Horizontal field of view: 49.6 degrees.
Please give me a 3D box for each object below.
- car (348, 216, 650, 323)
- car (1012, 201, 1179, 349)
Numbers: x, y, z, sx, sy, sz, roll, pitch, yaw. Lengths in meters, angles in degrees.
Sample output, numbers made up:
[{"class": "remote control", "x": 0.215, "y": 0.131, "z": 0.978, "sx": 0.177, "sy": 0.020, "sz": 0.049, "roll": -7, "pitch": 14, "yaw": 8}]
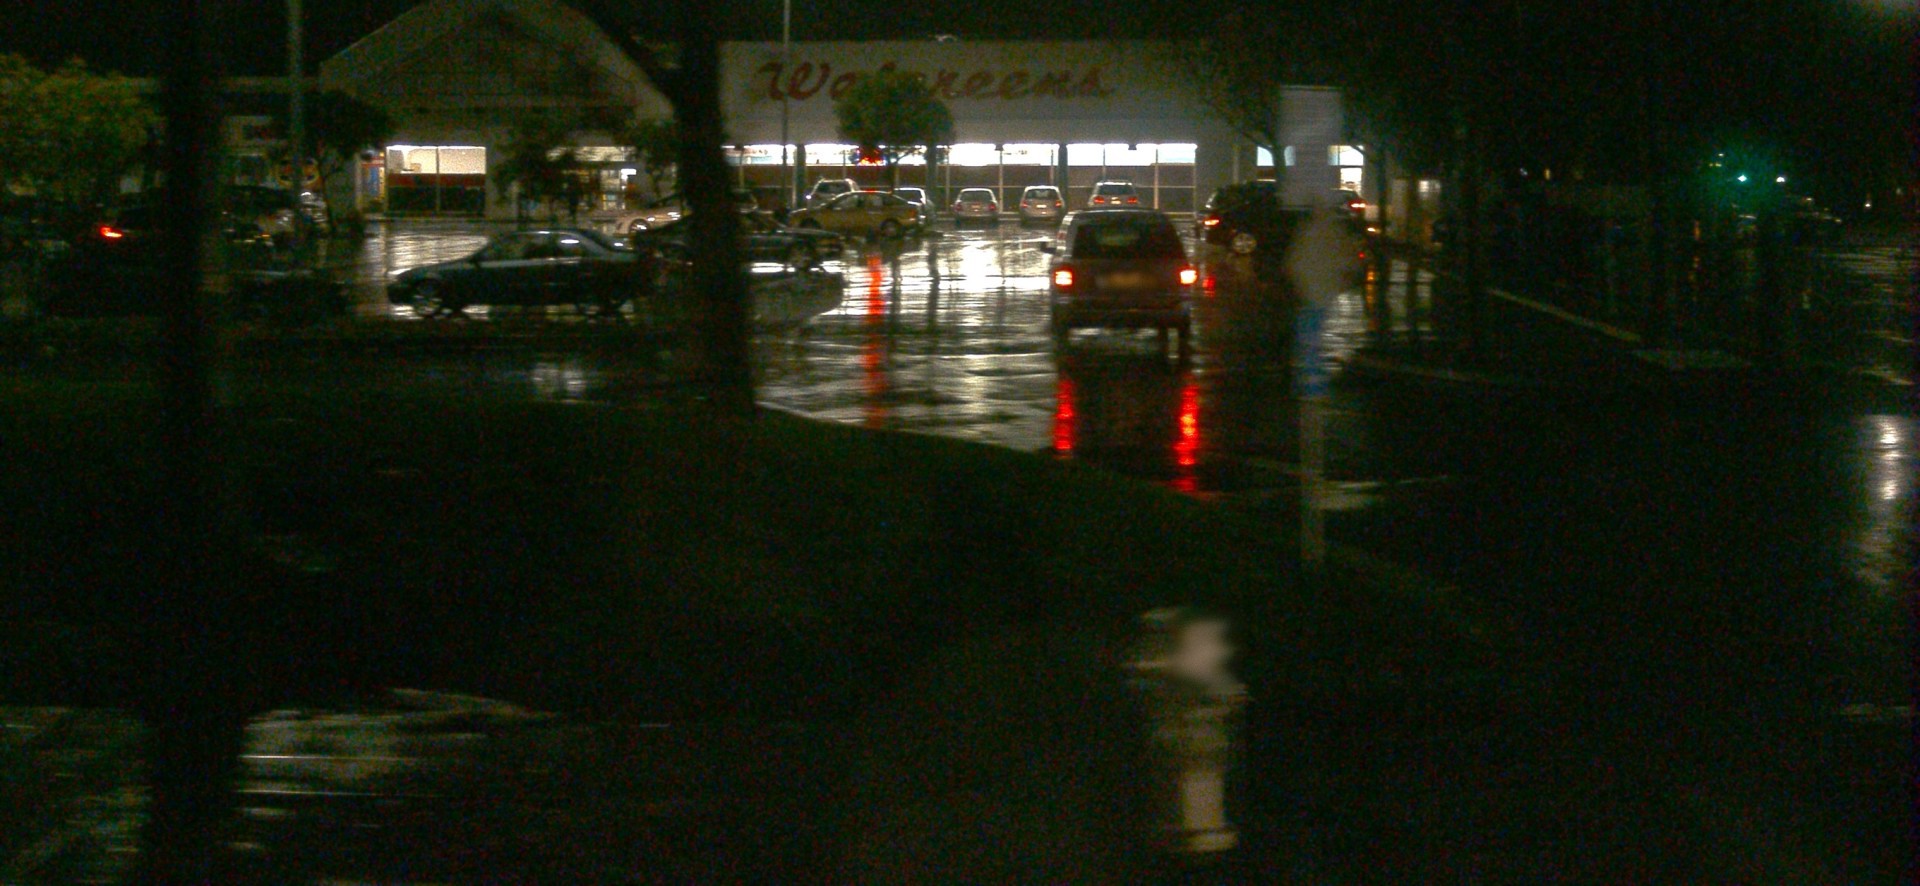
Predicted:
[{"class": "car", "x": -7.308, "y": -2.786, "z": 33.247, "sx": 4.348, "sy": 1.618, "sz": 1.839, "roll": 1, "pitch": 3, "yaw": 3}, {"class": "car", "x": 1.775, "y": -2.352, "z": 28.748, "sx": 2.055, "sy": 1.854, "sz": 5.007, "roll": 0, "pitch": 5, "yaw": 1}]
